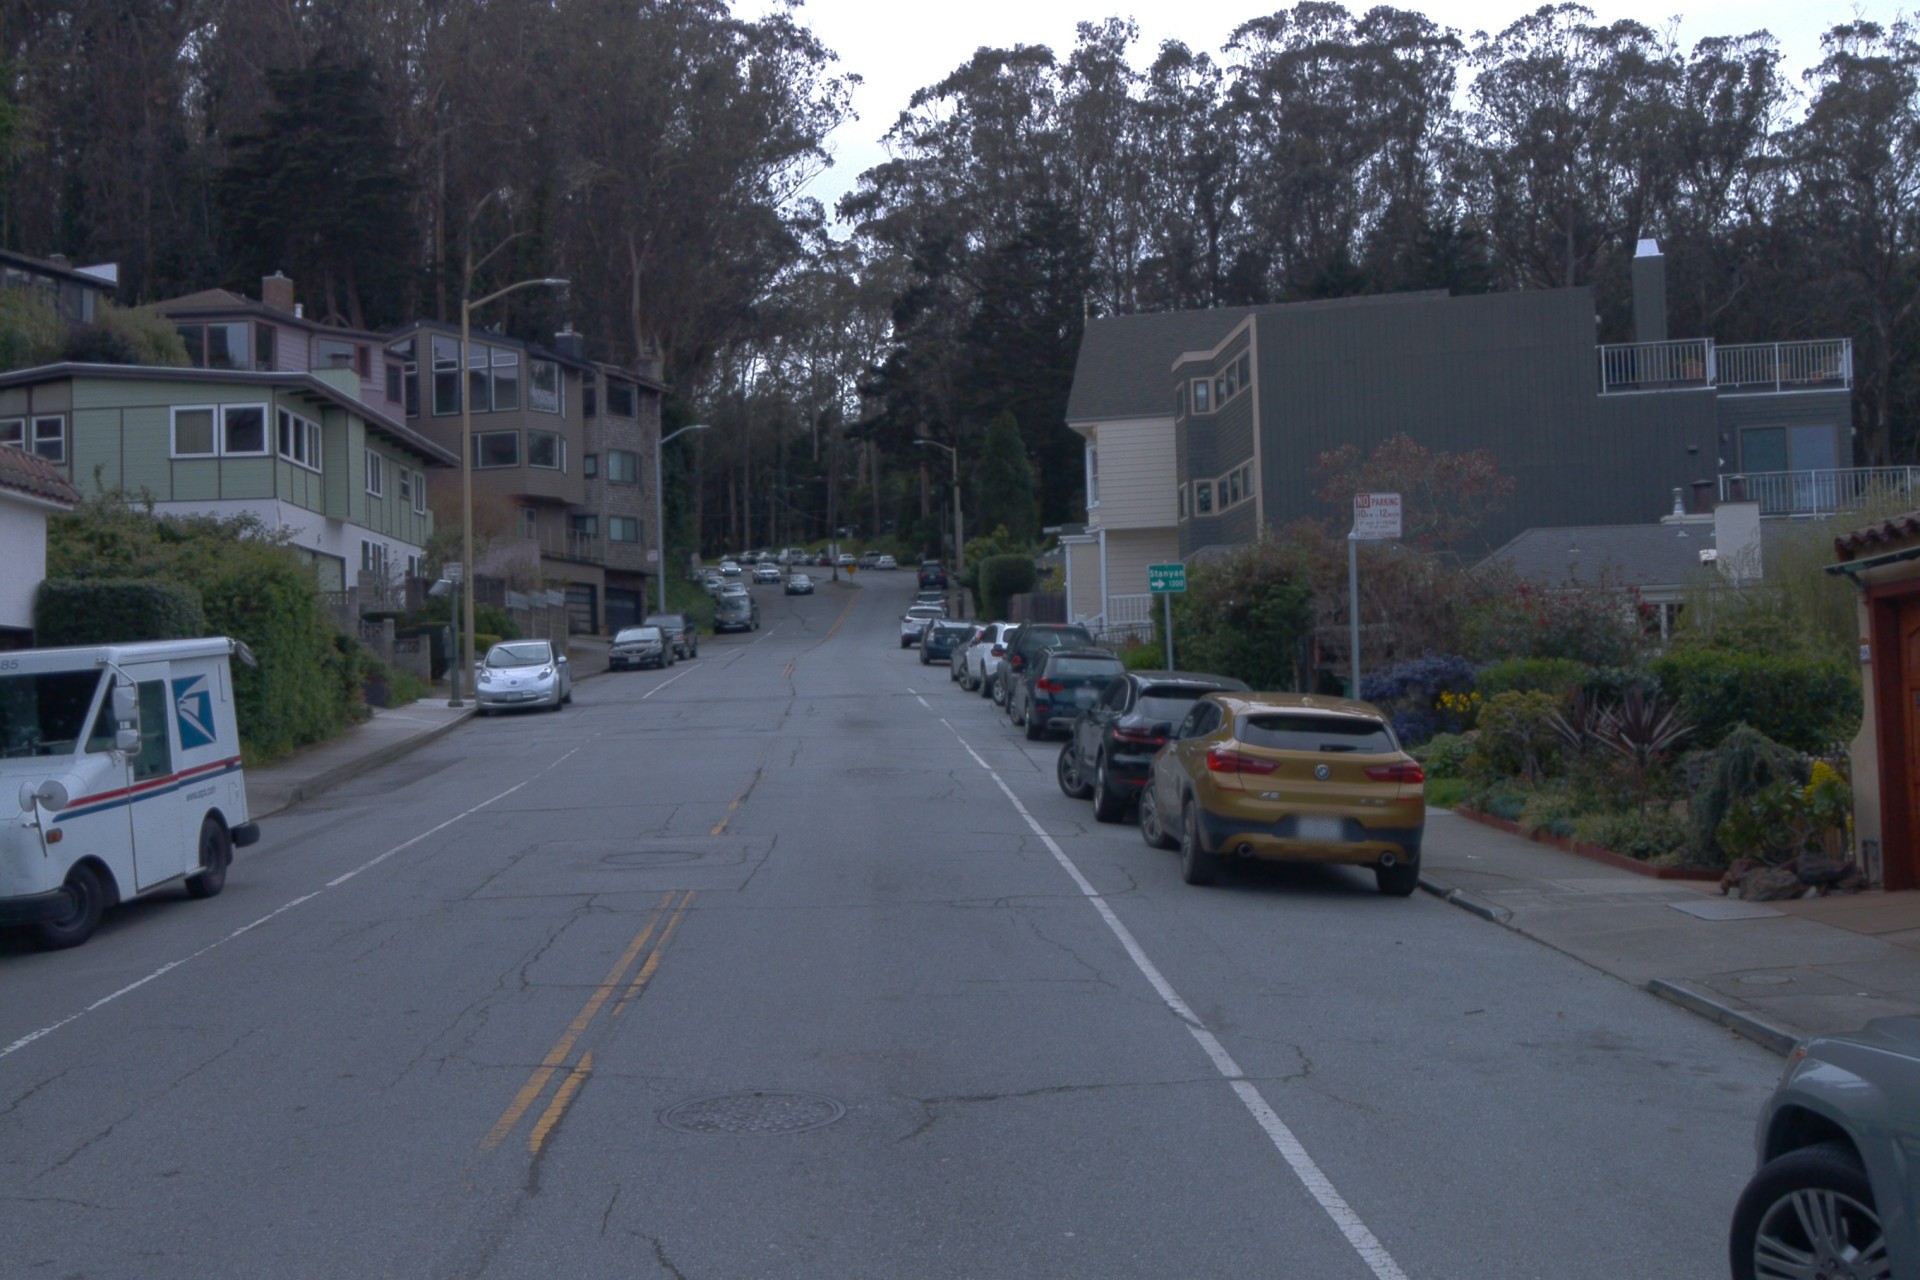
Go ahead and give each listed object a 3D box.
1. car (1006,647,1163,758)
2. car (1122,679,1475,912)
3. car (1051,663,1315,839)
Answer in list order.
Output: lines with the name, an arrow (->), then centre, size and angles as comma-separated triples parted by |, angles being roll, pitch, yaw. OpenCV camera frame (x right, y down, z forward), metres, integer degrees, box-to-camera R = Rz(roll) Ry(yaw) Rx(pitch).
car -> 2.039, 1.005, 35.007 | 2.171, 1.690, 4.494 | 0, 1, -3
car -> 2.726, 1.211, 17.711 | 2.198, 1.600, 4.506 | 0, 1, -1
car -> 2.336, 1.138, 22.927 | 2.324, 1.630, 4.751 | 0, 1, -1
